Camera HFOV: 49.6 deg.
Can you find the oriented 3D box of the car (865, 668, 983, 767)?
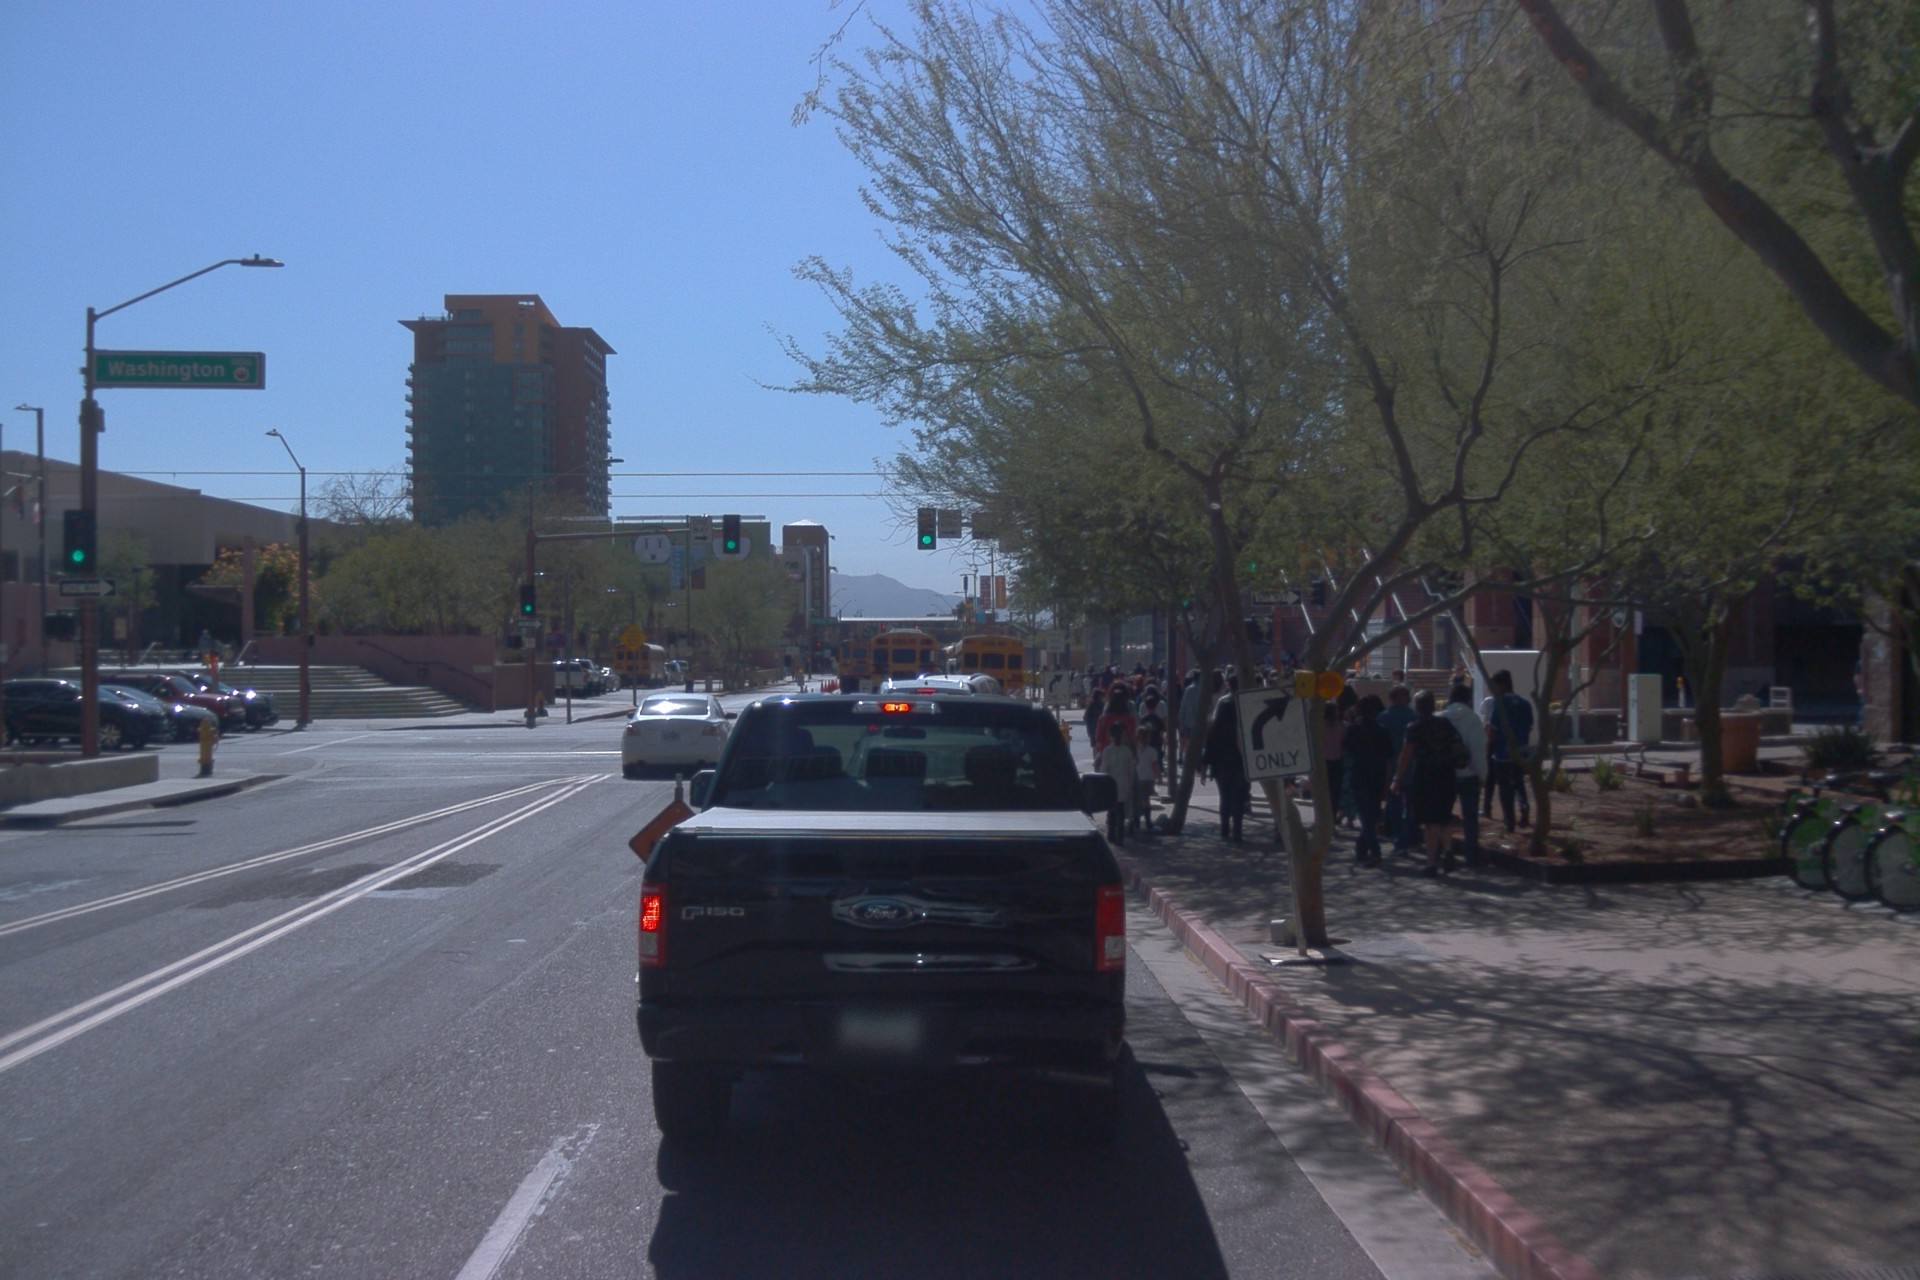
[{"bbox_3d":[-0.516,1.183,33.158,1.753,1.430,4.270,0,0,1],"label":"car"}]

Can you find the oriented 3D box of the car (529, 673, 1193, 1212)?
[{"bbox_3d":[-0.357,1.176,10.475,2.486,1.950,5.329,0,0,0],"label":"car"}]

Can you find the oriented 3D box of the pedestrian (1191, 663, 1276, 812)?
[{"bbox_3d":[3.548,1.255,27.032,0.959,1.900,0.880,0,0,-1],"label":"pedestrian"}]

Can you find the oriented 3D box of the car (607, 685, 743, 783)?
[{"bbox_3d":[-5.107,1.655,37.857,2.094,1.570,4.889,0,0,-4],"label":"car"}]

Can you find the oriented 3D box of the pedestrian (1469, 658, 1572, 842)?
[{"bbox_3d":[5.829,1.128,21.663,0.835,1.880,0.792,0,0,-2],"label":"pedestrian"}]
